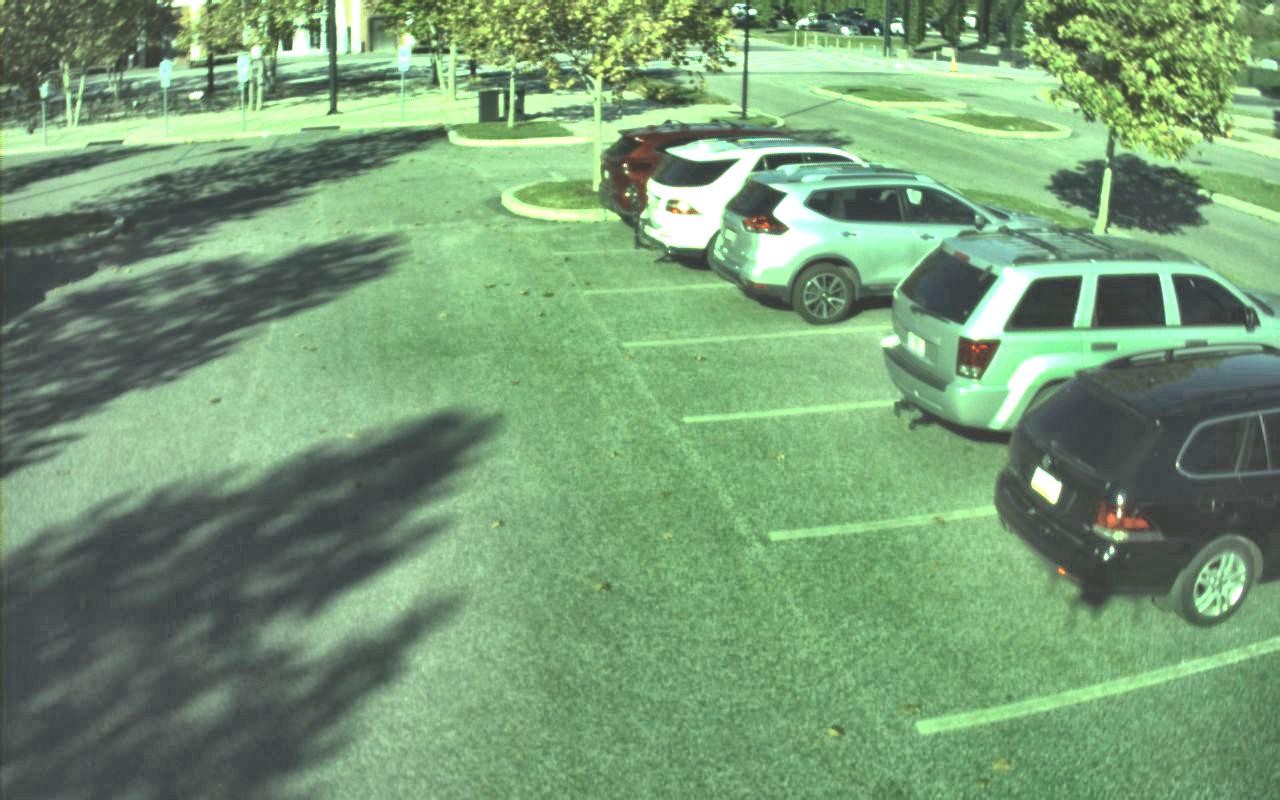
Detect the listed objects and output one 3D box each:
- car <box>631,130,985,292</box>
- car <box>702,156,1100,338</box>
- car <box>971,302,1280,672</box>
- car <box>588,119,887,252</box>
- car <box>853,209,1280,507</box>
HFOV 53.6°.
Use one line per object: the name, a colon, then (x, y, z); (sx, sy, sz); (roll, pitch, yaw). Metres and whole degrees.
car: (2.357, -2.762, 17.533); (4.599, 1.842, 2.020); (-5, 17, -14)
car: (3.207, -1.989, 15.163); (4.546, 1.763, 1.991); (-5, 17, -11)
car: (4.655, 0.410, 7.917); (4.397, 1.579, 1.917); (-5, 17, -11)
car: (1.552, -3.538, 20.160); (4.435, 1.761, 1.970); (-5, 17, -14)
car: (4.380, -0.560, 10.370); (4.707, 1.875, 2.048); (-4, 16, -11)
